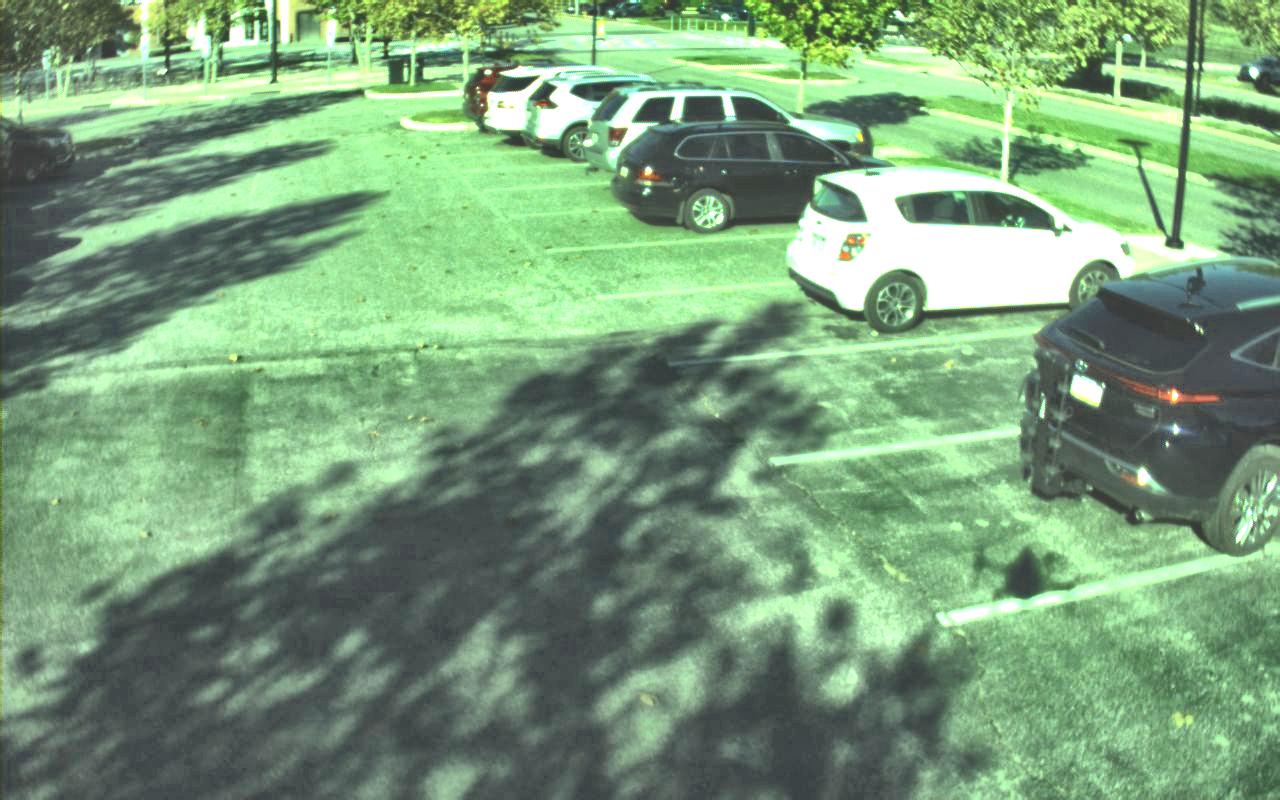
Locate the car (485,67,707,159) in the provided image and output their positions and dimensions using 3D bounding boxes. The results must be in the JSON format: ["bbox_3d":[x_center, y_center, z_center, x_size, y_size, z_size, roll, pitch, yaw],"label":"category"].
[{"bbox_3d":[-1.016,-6.366,27.336,4.537,1.758,1.997,-6,17,-15],"label":"car"}]

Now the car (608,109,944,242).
[{"bbox_3d":[1.953,-3.318,17.971,4.495,1.561,1.930,-5,17,-14],"label":"car"}]

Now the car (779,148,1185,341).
[{"bbox_3d":[3.771,-1.811,13.256,4.180,1.626,1.887,-6,17,-15],"label":"car"}]

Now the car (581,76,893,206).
[{"bbox_3d":[1.574,-4.330,20.383,4.729,1.842,2.041,-5,17,-14],"label":"car"}]

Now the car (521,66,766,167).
[{"bbox_3d":[0.036,-5.774,25.070,4.577,1.778,1.999,-6,17,-15],"label":"car"}]

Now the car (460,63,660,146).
[{"bbox_3d":[-1.972,-7.188,29.940,4.488,1.722,1.994,-6,17,-16],"label":"car"}]

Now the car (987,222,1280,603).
[{"bbox_3d":[4.902,-0.174,8.171,4.601,1.757,1.995,-7,17,-19],"label":"car"}]
